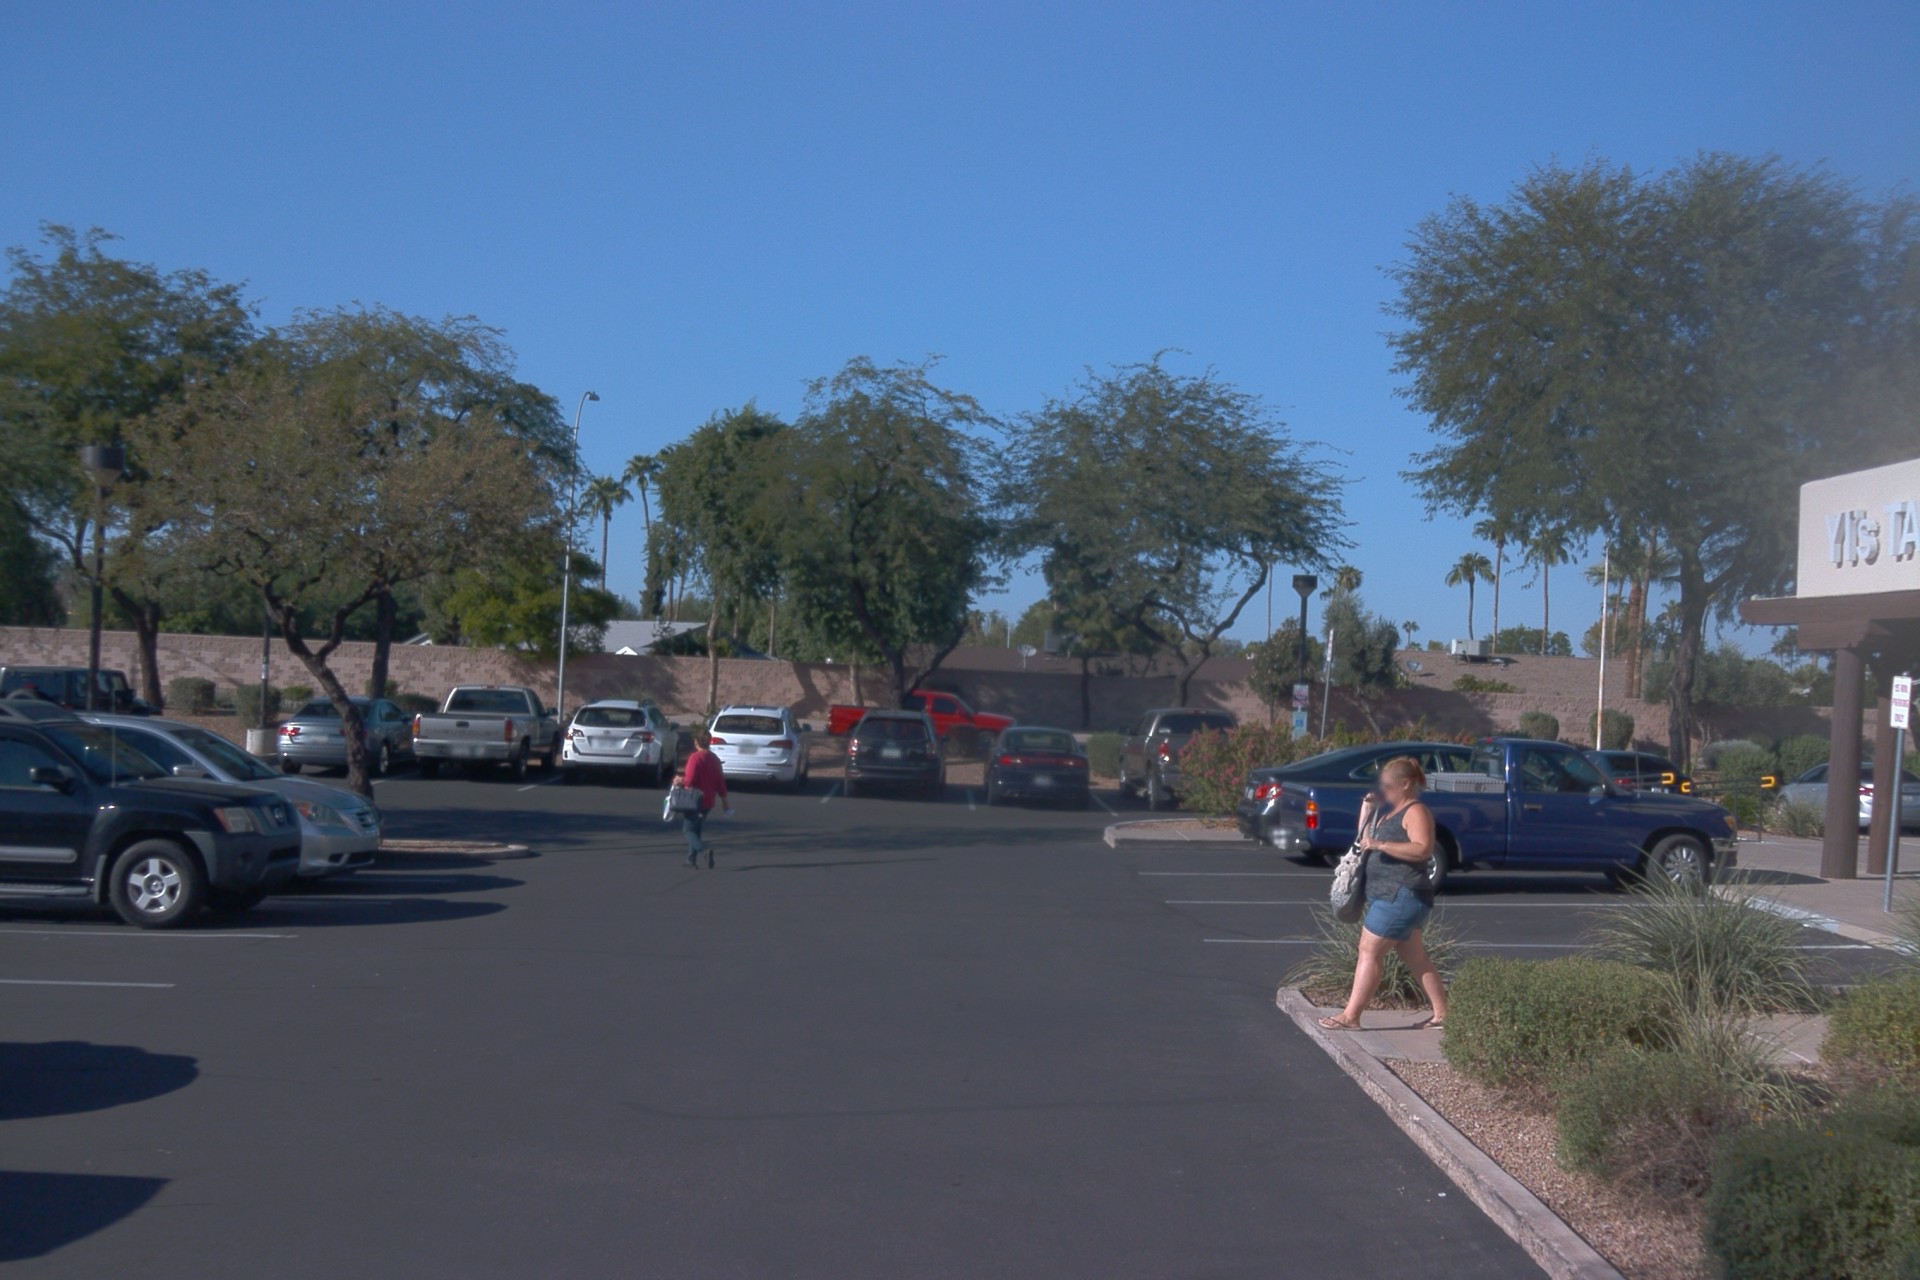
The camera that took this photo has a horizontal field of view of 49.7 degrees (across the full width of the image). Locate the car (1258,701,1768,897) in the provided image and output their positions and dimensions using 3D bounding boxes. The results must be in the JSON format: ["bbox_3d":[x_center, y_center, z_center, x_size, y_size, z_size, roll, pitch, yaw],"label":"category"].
[{"bbox_3d":[5.607,1.599,21.462,4.685,1.860,2.091,1,-1,-2],"label":"car"}]

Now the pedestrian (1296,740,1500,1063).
[{"bbox_3d":[2.507,1.474,11.971,0.962,1.750,0.926,1,-1,0],"label":"pedestrian"}]

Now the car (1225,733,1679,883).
[{"bbox_3d":[5.642,1.928,24.202,4.780,1.570,2.041,1,-1,-2],"label":"car"}]

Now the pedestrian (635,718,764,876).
[{"bbox_3d":[-2.916,1.732,23.213,0.982,1.680,1.039,1,-1,-44],"label":"pedestrian"}]
